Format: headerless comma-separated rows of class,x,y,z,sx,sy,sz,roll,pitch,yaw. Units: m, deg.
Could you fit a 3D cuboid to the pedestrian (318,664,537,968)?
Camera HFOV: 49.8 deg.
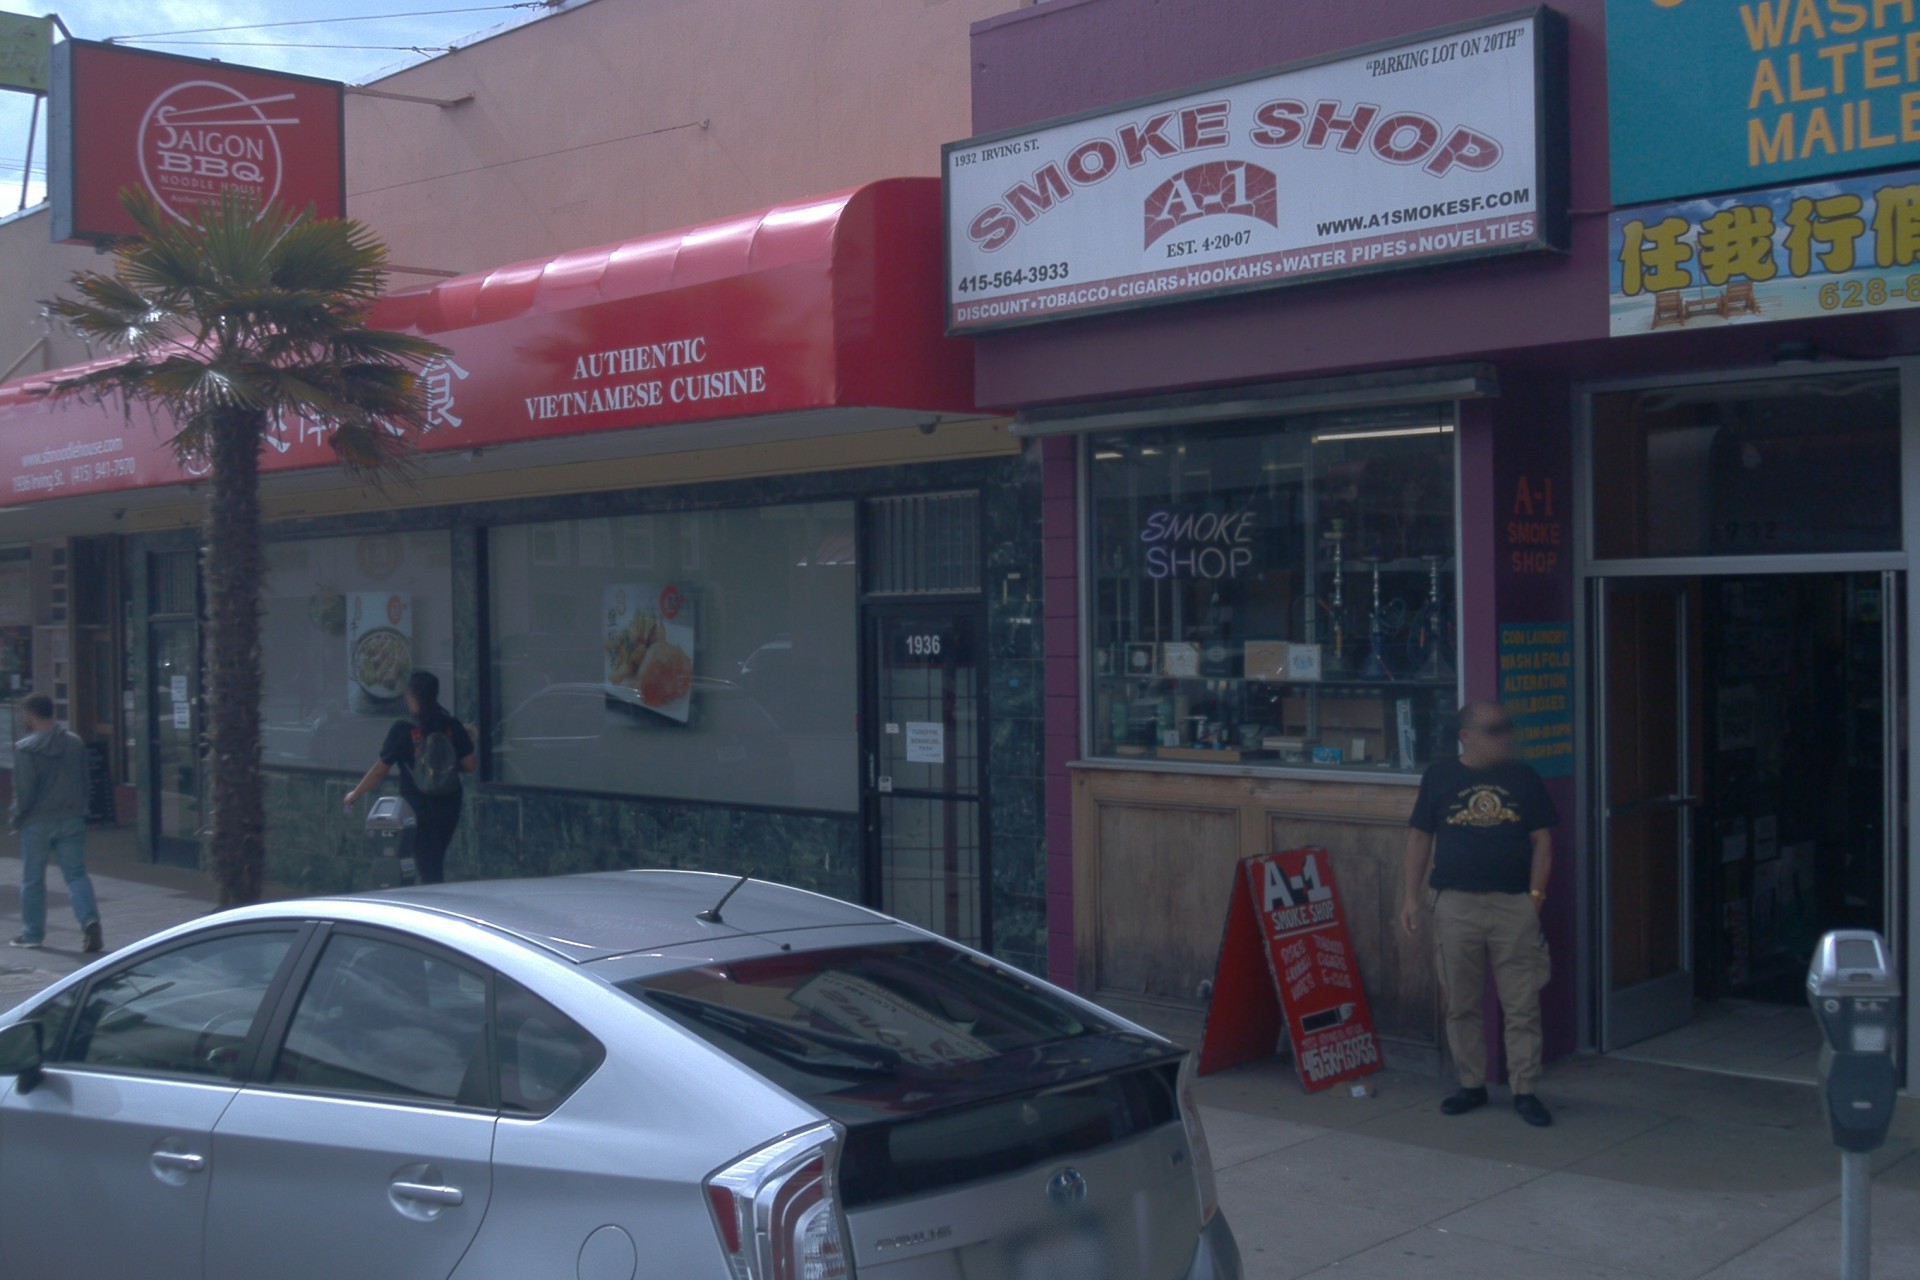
pedestrian,-3.403,1.071,13.203,0.883,1.826,1.142,1,-1,-44

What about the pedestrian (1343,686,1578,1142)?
pedestrian,2.039,1.058,8.406,0.747,1.728,0.668,0,-1,32
